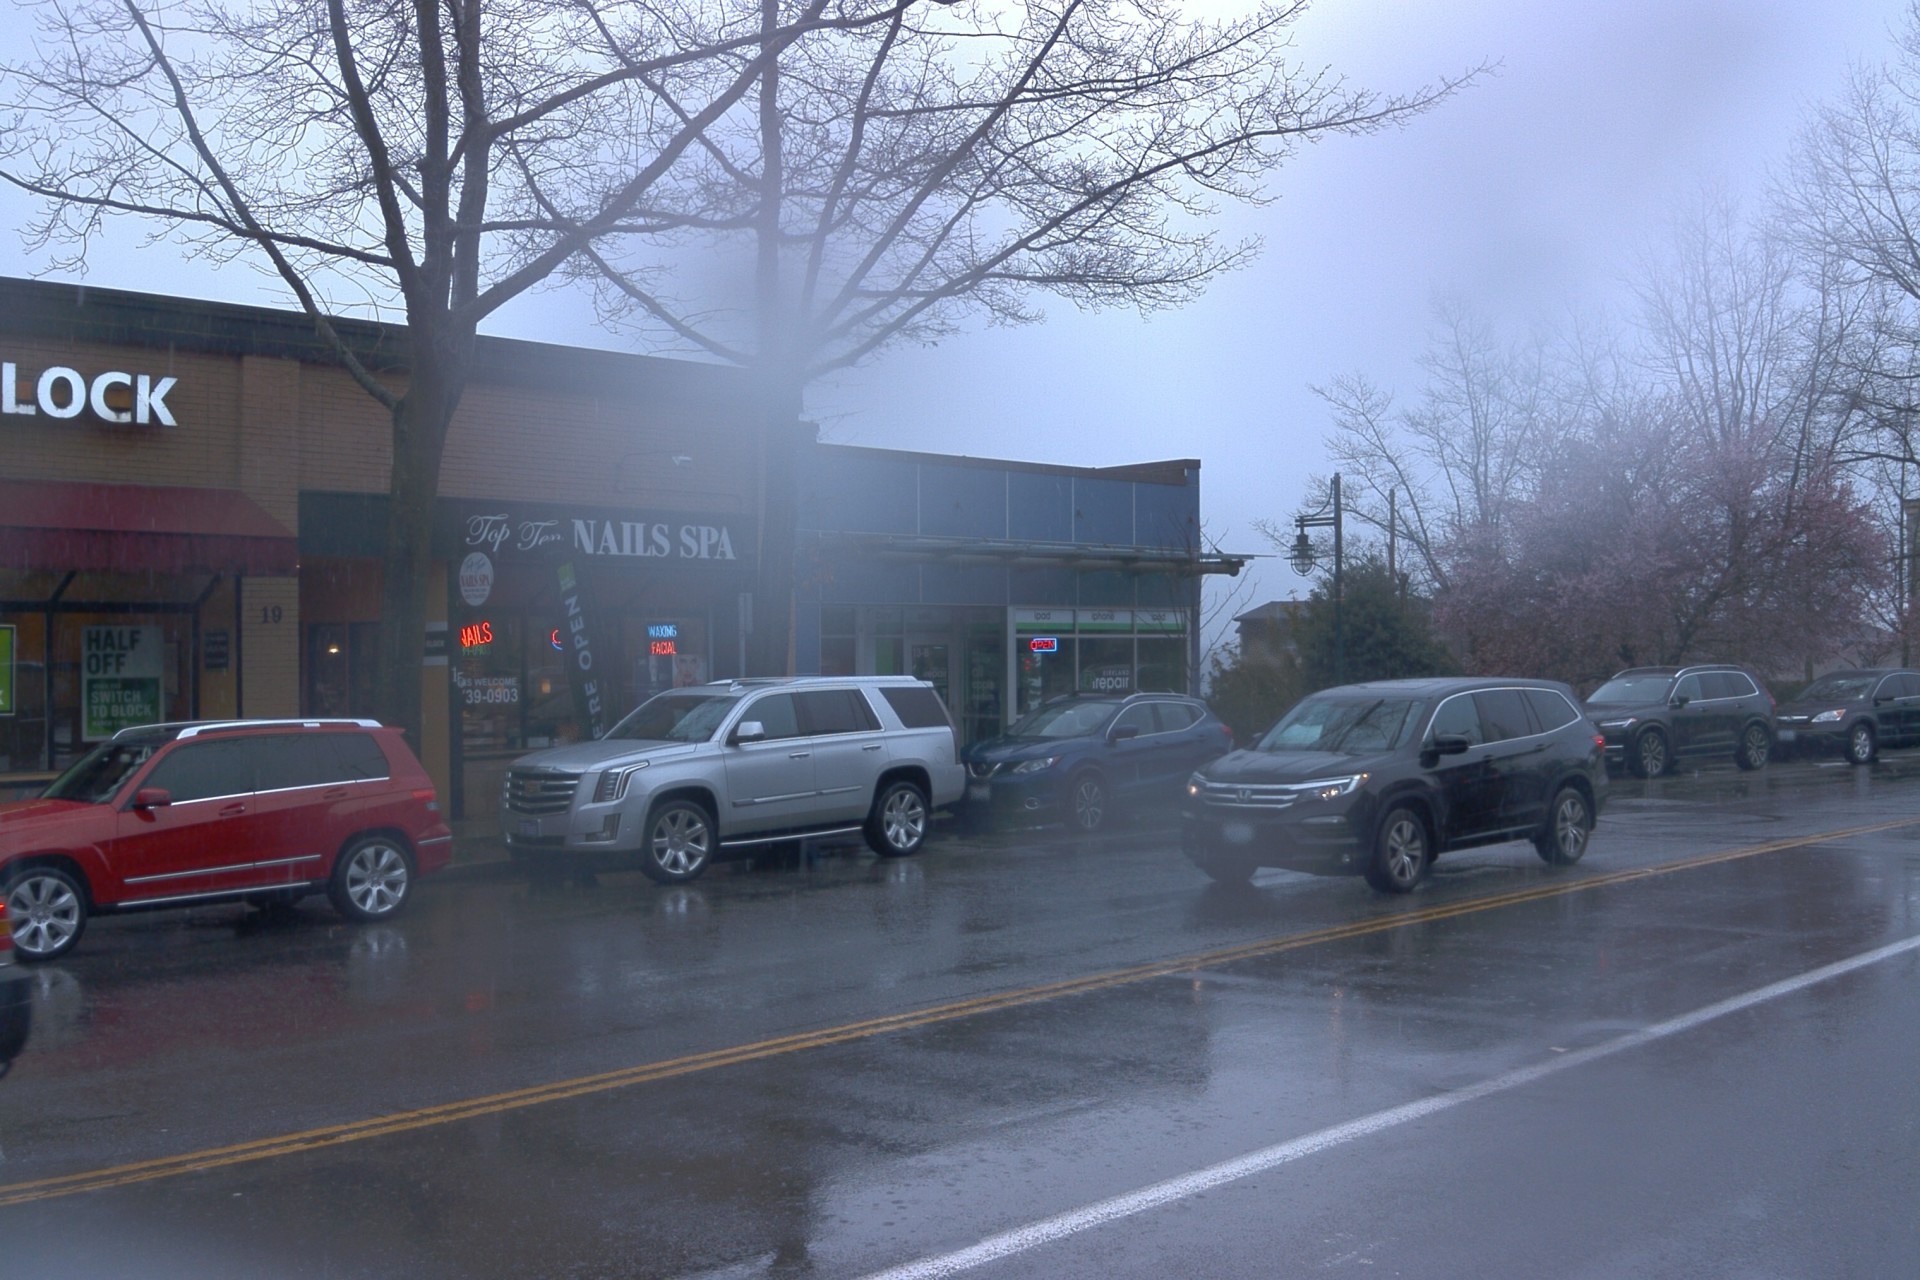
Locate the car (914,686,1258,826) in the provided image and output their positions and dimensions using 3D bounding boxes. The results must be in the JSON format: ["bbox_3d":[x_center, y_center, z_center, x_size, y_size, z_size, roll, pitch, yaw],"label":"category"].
[{"bbox_3d":[1.625,1.341,25.280,1.999,1.400,4.335,1,1,40],"label":"car"}]

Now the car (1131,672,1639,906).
[{"bbox_3d":[4.017,1.213,18.827,2.073,1.690,5.207,1,1,44],"label":"car"}]

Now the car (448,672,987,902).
[{"bbox_3d":[-2.320,1.348,21.042,2.331,1.890,5.194,1,1,42],"label":"car"}]
